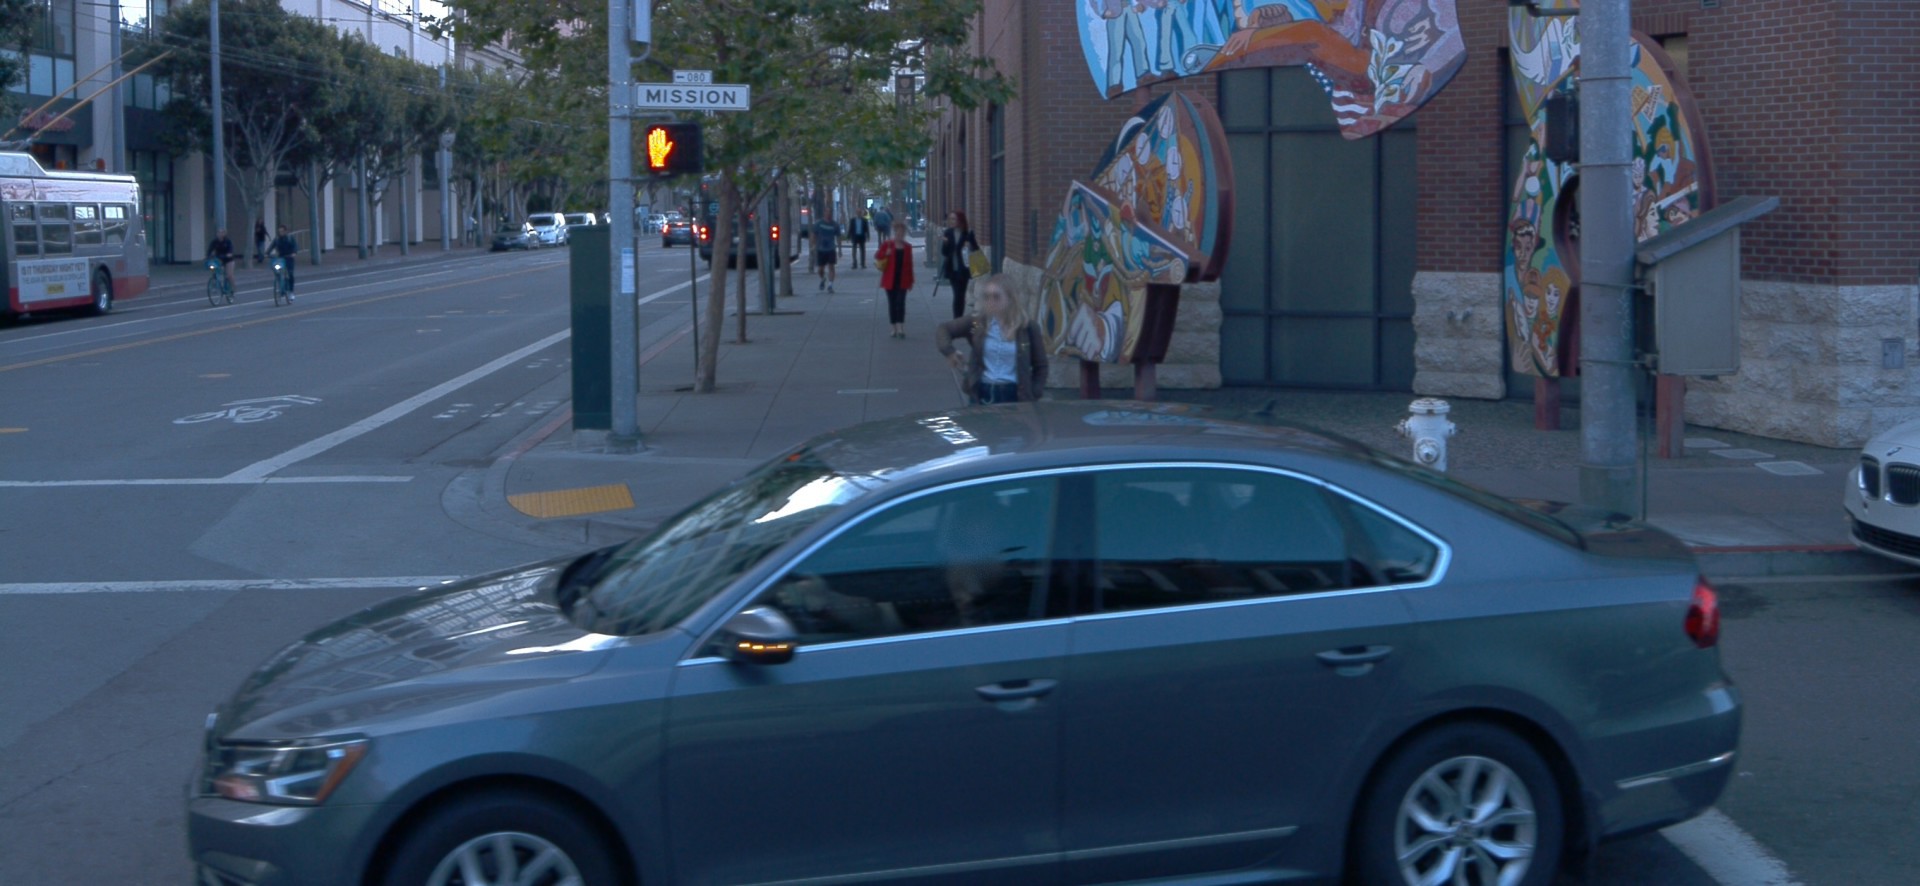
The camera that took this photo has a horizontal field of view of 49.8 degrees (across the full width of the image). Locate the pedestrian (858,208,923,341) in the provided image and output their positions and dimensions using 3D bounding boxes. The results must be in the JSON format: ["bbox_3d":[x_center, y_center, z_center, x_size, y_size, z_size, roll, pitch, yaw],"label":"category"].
[{"bbox_3d":[-0.966,-2.342,28.491,0.818,1.796,1.047,-1,3,-4],"label":"pedestrian"}]

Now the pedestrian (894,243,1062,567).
[{"bbox_3d":[0.123,-0.263,12.321,0.852,1.833,0.908,0,2,9],"label":"pedestrian"}]

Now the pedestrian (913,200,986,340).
[{"bbox_3d":[-0.154,-2.414,28.692,0.939,1.896,1.002,-1,2,-3],"label":"pedestrian"}]
